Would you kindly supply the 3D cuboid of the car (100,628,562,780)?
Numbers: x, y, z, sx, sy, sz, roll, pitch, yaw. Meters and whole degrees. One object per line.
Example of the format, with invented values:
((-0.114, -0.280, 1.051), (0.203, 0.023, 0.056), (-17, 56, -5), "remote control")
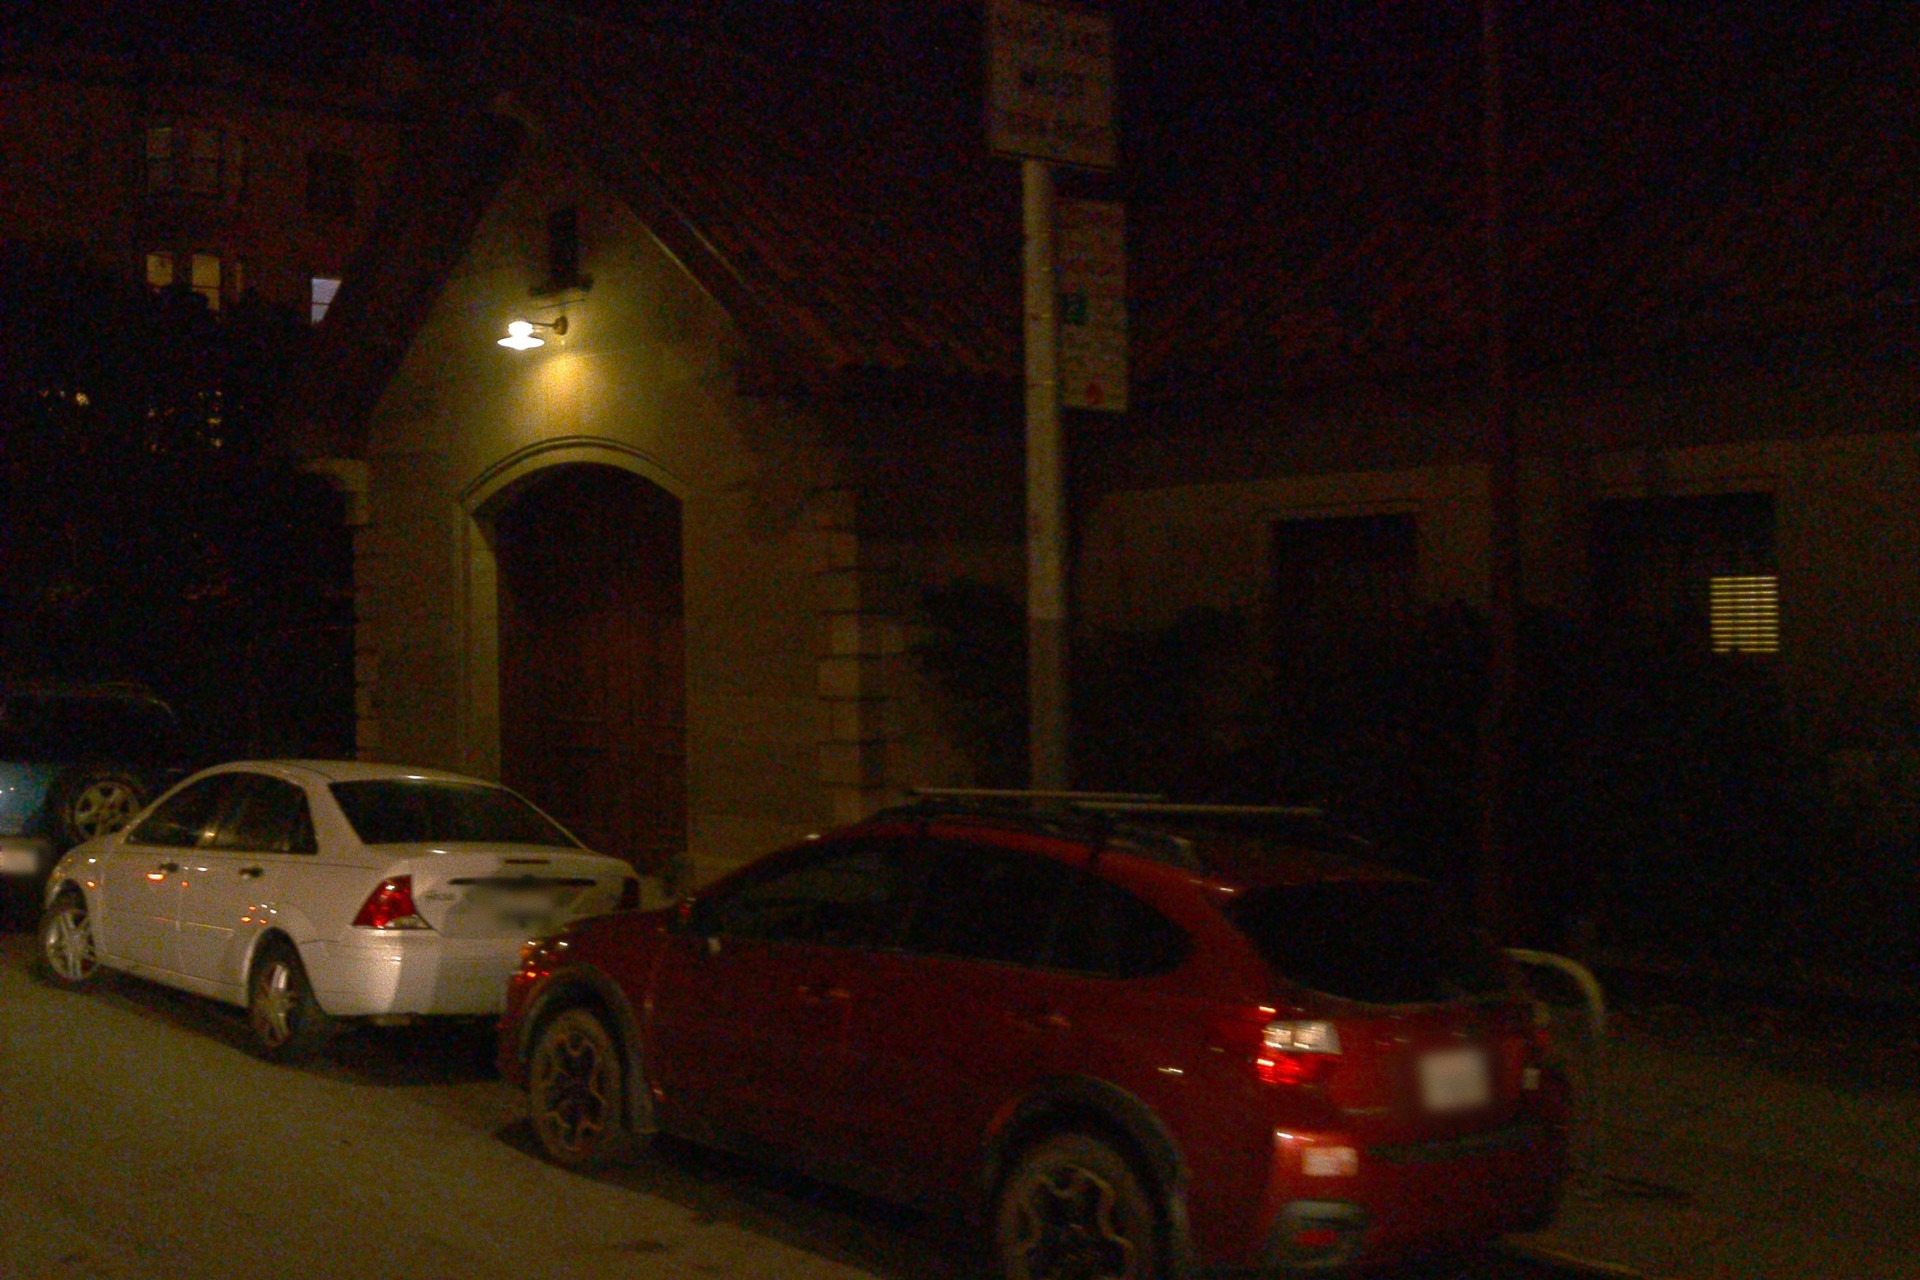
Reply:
((-8.292, 0.786, 27.586), (5.448, 1.820, 2.301), (1, 0, -44), "car")

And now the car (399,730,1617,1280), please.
((-0.099, 1.331, 7.896), (2.033, 1.750, 4.556), (1, 0, -43), "car")

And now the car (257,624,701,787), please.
((-6.057, 0.767, 26.386), (5.037, 1.890, 2.309), (1, 0, -44), "car")
